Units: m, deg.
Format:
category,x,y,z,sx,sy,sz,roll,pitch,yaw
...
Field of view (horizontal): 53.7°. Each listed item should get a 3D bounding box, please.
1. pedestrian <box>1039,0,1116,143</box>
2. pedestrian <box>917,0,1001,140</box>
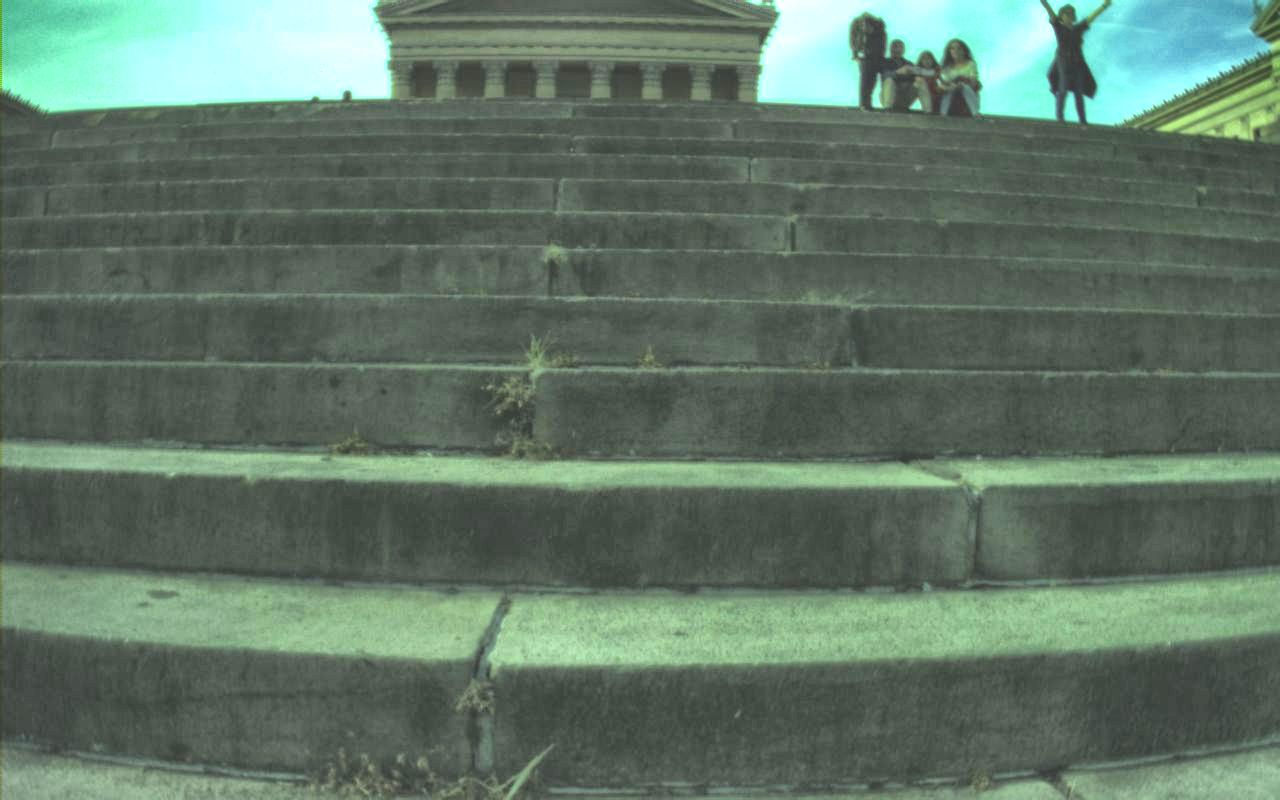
category,x,y,z,sx,sy,sz,roll,pitch,yaw
pedestrian,5.372,-4.121,14.405,0.731,1.877,0.738,0,0,7
pedestrian,3.553,-3.728,13.447,0.676,1.552,0.747,0,0,-7
